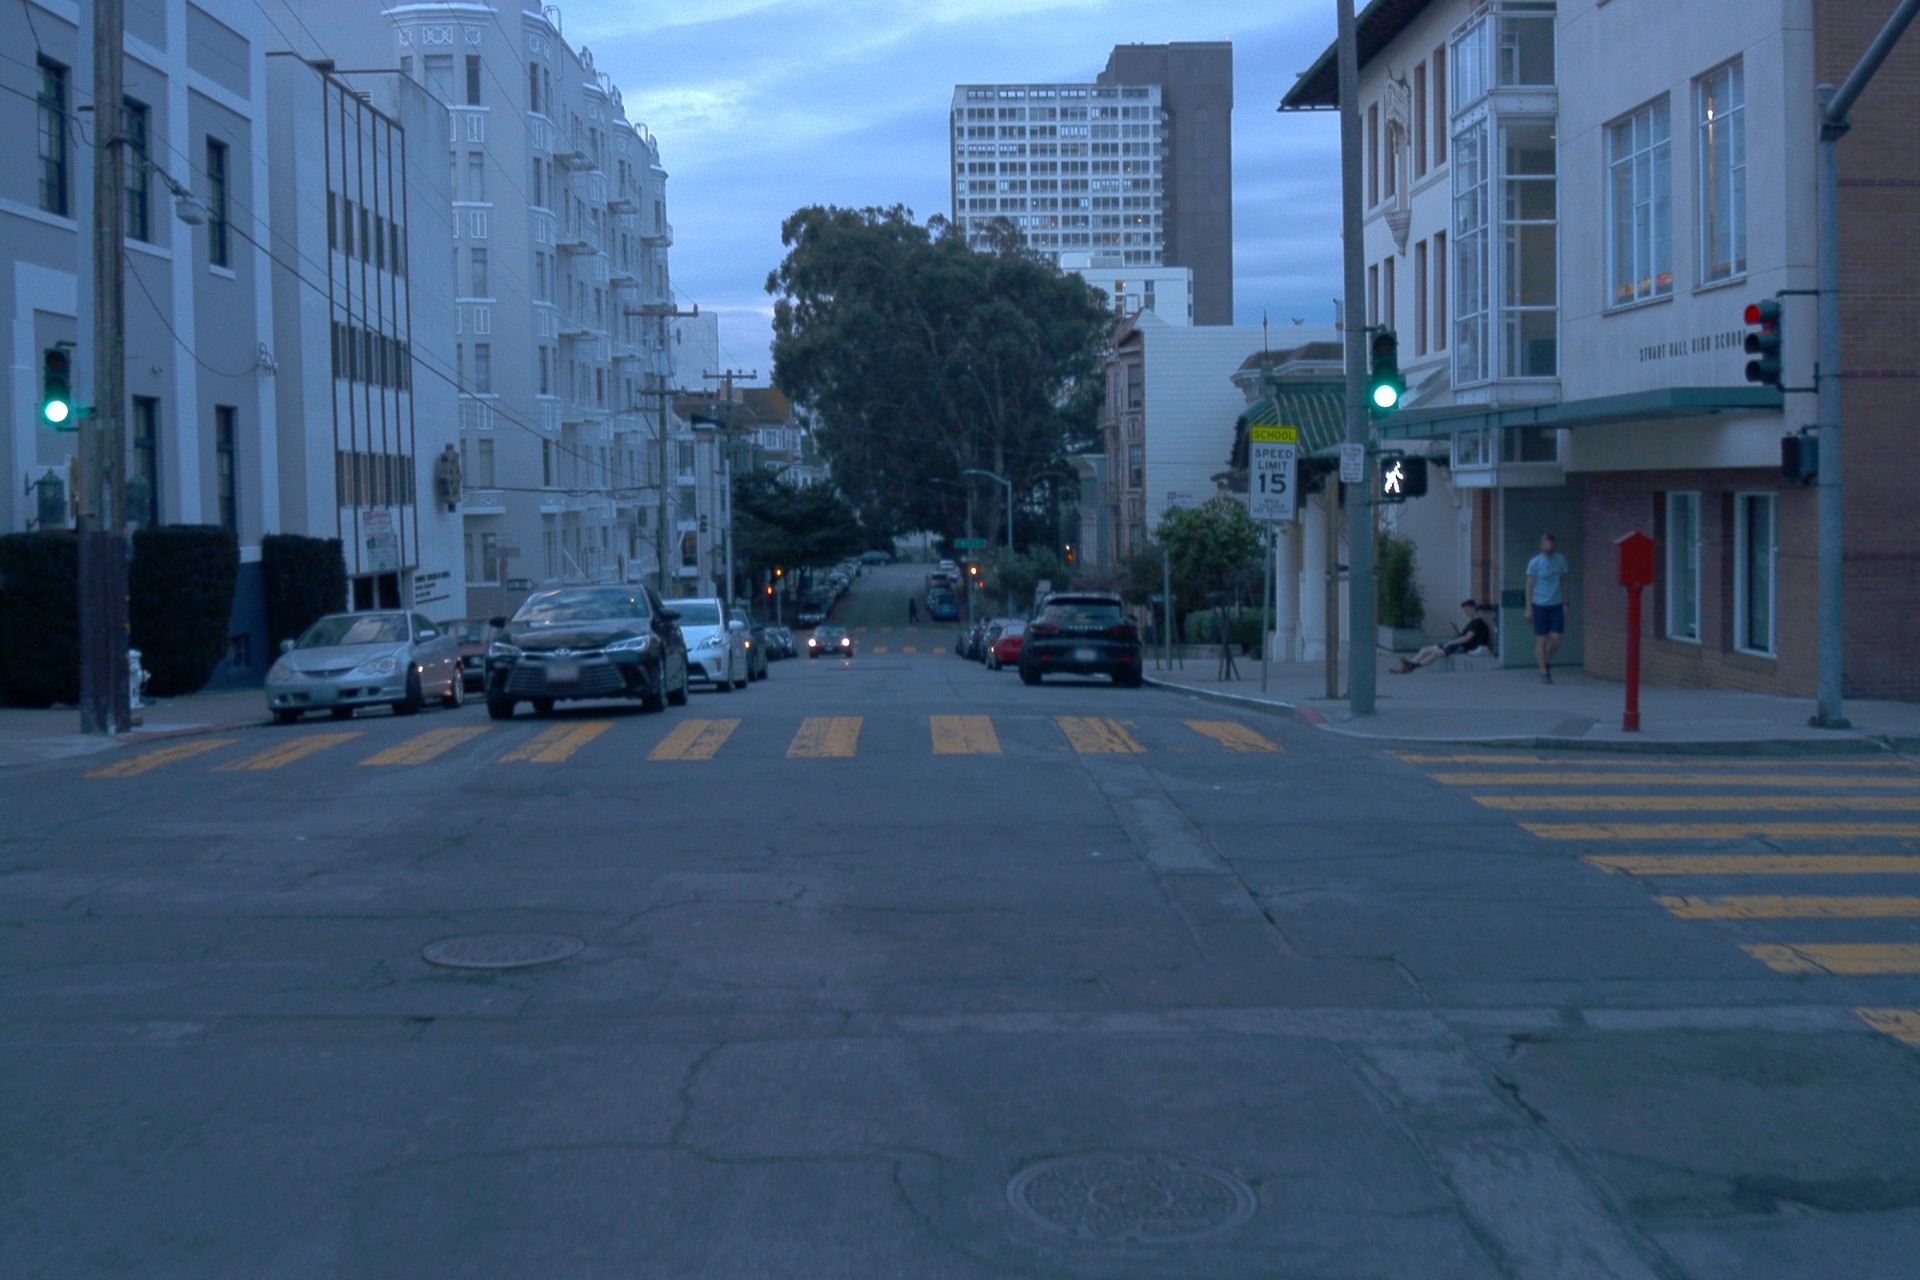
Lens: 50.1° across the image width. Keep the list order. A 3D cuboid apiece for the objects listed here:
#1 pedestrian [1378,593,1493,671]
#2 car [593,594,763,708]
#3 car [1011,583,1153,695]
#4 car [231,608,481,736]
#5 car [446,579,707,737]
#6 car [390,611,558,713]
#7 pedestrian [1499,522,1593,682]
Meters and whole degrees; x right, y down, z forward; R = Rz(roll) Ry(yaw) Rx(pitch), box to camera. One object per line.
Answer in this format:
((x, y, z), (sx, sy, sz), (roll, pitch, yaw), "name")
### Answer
((7.586, -0.129, 32.863), (1.524, 1.200, 1.090), (1, 1, -2), "pedestrian")
((-4.237, 0.119, 31.538), (2.034, 1.600, 4.431), (1, 1, -1), "car")
((2.015, -0.062, 35.358), (2.188, 1.760, 4.713), (1, 1, 1), "car")
((-7.564, 0.343, 26.198), (1.992, 1.450, 4.399), (1, 1, -2), "car")
((-4.088, 0.136, 22.734), (2.144, 1.530, 4.749), (1, 1, -2), "car")
((-7.724, 0.299, 33.062), (1.773, 1.480, 4.408), (1, 1, -2), "car")
((7.600, -0.493, 26.735), (0.835, 2.020, 1.186), (1, 1, 0), "pedestrian")
